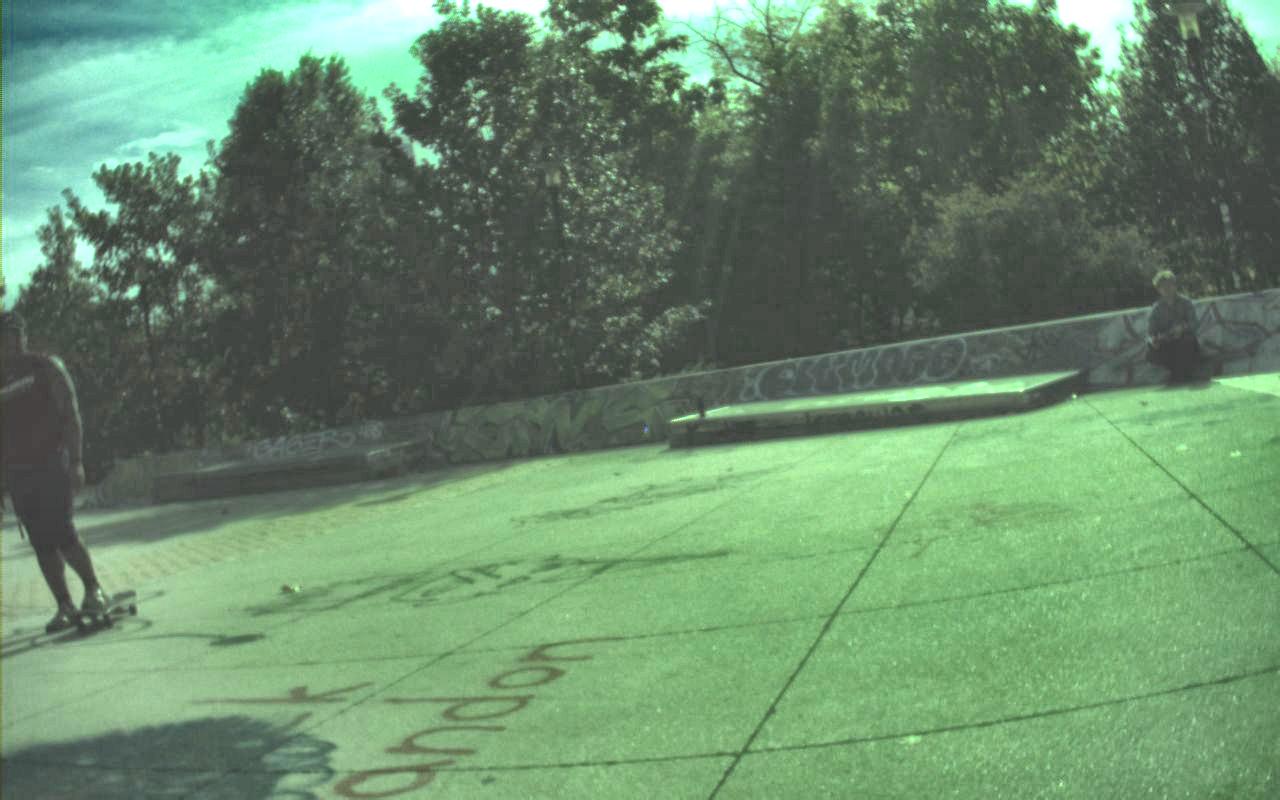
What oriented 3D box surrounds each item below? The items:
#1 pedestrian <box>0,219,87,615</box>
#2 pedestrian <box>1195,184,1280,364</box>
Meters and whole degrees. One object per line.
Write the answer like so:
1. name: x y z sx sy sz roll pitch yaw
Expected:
1. pedestrian: -3.355 0.090 5.517 0.841 1.826 0.849 0 0 13
2. pedestrian: 5.744 -1.143 10.810 0.824 1.650 0.770 0 0 11
